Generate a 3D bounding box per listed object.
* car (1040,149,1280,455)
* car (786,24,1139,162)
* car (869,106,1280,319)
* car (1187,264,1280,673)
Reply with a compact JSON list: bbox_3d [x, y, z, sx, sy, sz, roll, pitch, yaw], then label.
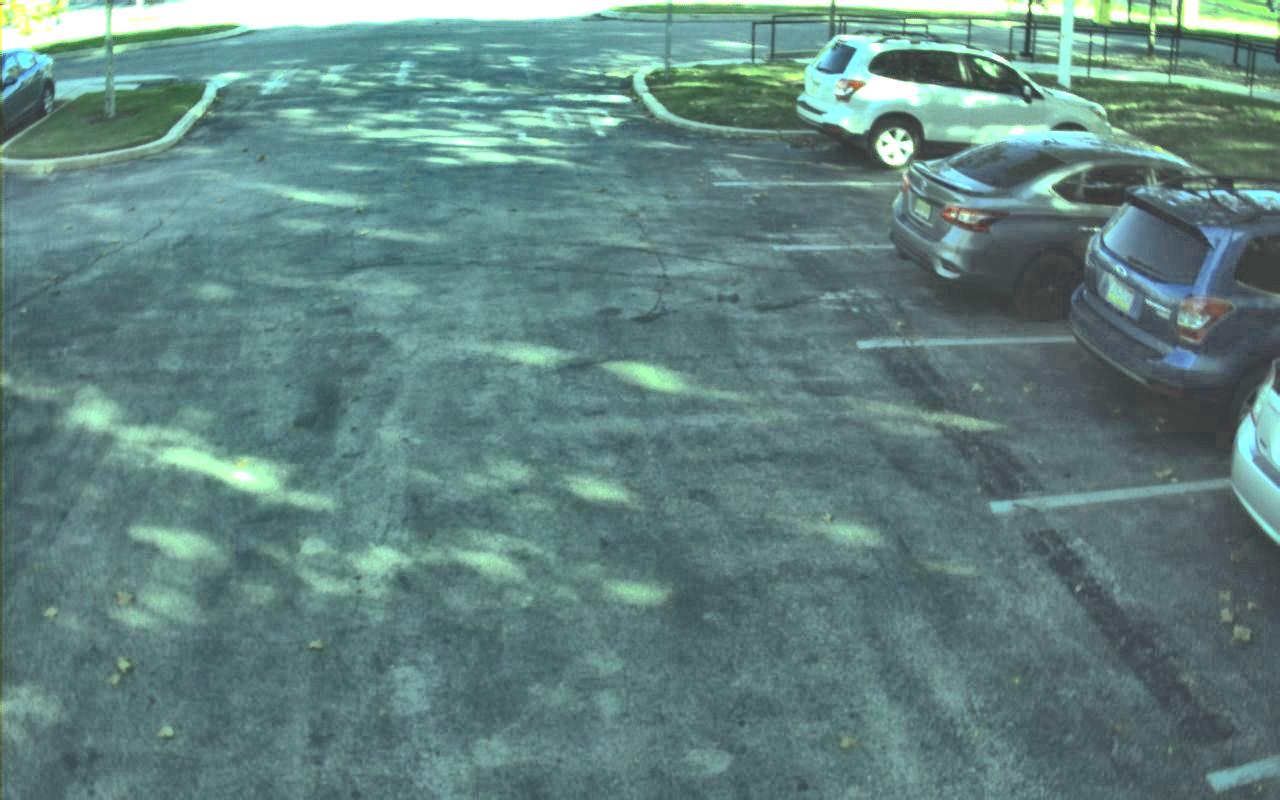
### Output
[{"bbox_3d":[5.418,-0.883,8.565,4.439,1.739,1.974,-4,16,-8],"label":"car"},{"bbox_3d":[4.474,-4.237,16.591,4.612,1.736,1.992,-4,16,-10],"label":"car"},{"bbox_3d":[4.528,-1.861,11.131,4.468,1.589,1.942,-5,17,-11],"label":"car"},{"bbox_3d":[5.648,0.227,6.154,4.430,1.622,1.969,-2,16,-3],"label":"car"}]
